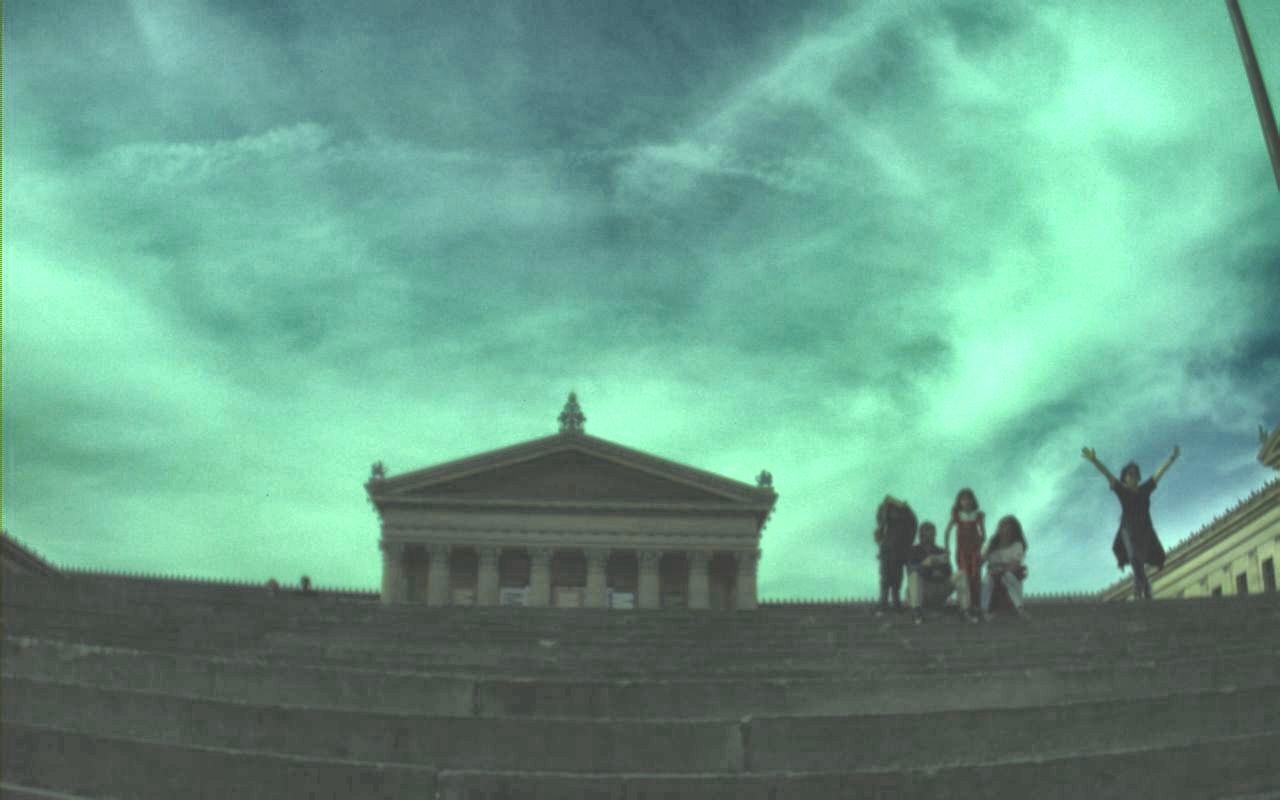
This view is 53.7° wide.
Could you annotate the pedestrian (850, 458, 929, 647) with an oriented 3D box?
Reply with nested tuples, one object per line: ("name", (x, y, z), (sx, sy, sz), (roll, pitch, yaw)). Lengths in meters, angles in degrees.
("pedestrian", (2.307, 1.401, 11.402), (0.668, 1.677, 0.673), (0, 0, 11))

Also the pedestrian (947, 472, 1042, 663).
("pedestrian", (3.352, 1.588, 11.498), (0.658, 1.727, 0.674), (0, 0, -4))

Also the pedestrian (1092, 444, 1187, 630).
("pedestrian", (5.348, 1.470, 12.550), (0.702, 1.891, 0.697), (0, 0, -25))
